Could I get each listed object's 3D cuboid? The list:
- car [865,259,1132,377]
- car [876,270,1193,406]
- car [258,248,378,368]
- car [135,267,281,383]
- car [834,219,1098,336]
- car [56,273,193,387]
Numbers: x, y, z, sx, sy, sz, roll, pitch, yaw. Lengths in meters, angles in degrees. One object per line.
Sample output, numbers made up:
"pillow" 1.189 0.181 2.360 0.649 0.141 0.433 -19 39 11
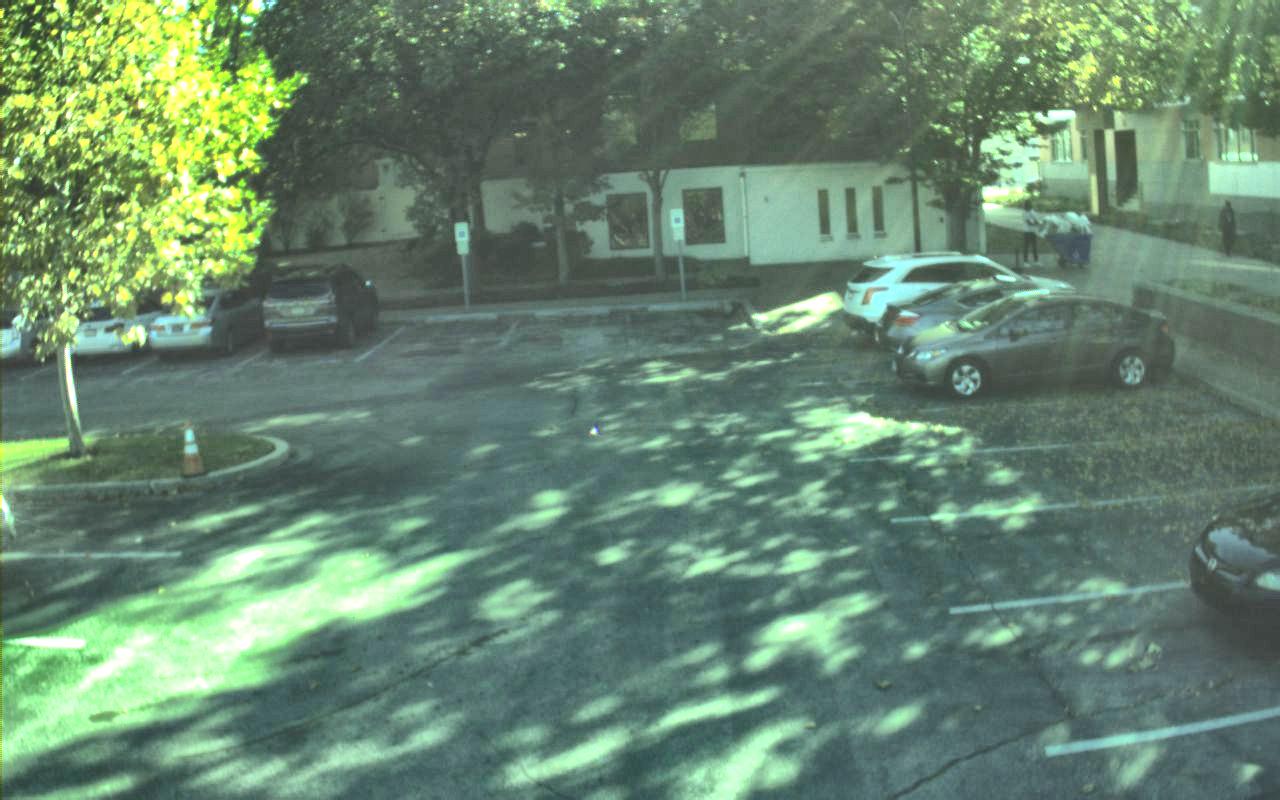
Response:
"car" 6.122 -1.447 20.971 4.307 1.539 1.915 -2 16 -2
"car" 5.995 -1.001 18.539 4.593 1.579 1.983 -1 16 0
"car" -7.251 -2.163 27.972 1.981 1.697 4.533 -2 17 -4
"car" -9.932 -1.772 27.752 1.940 1.630 4.477 -1 17 2
"car" 6.167 -2.381 23.337 4.703 1.785 2.032 -2 16 -3
"car" -12.418 -1.712 28.289 1.958 1.660 4.526 -2 17 -3
